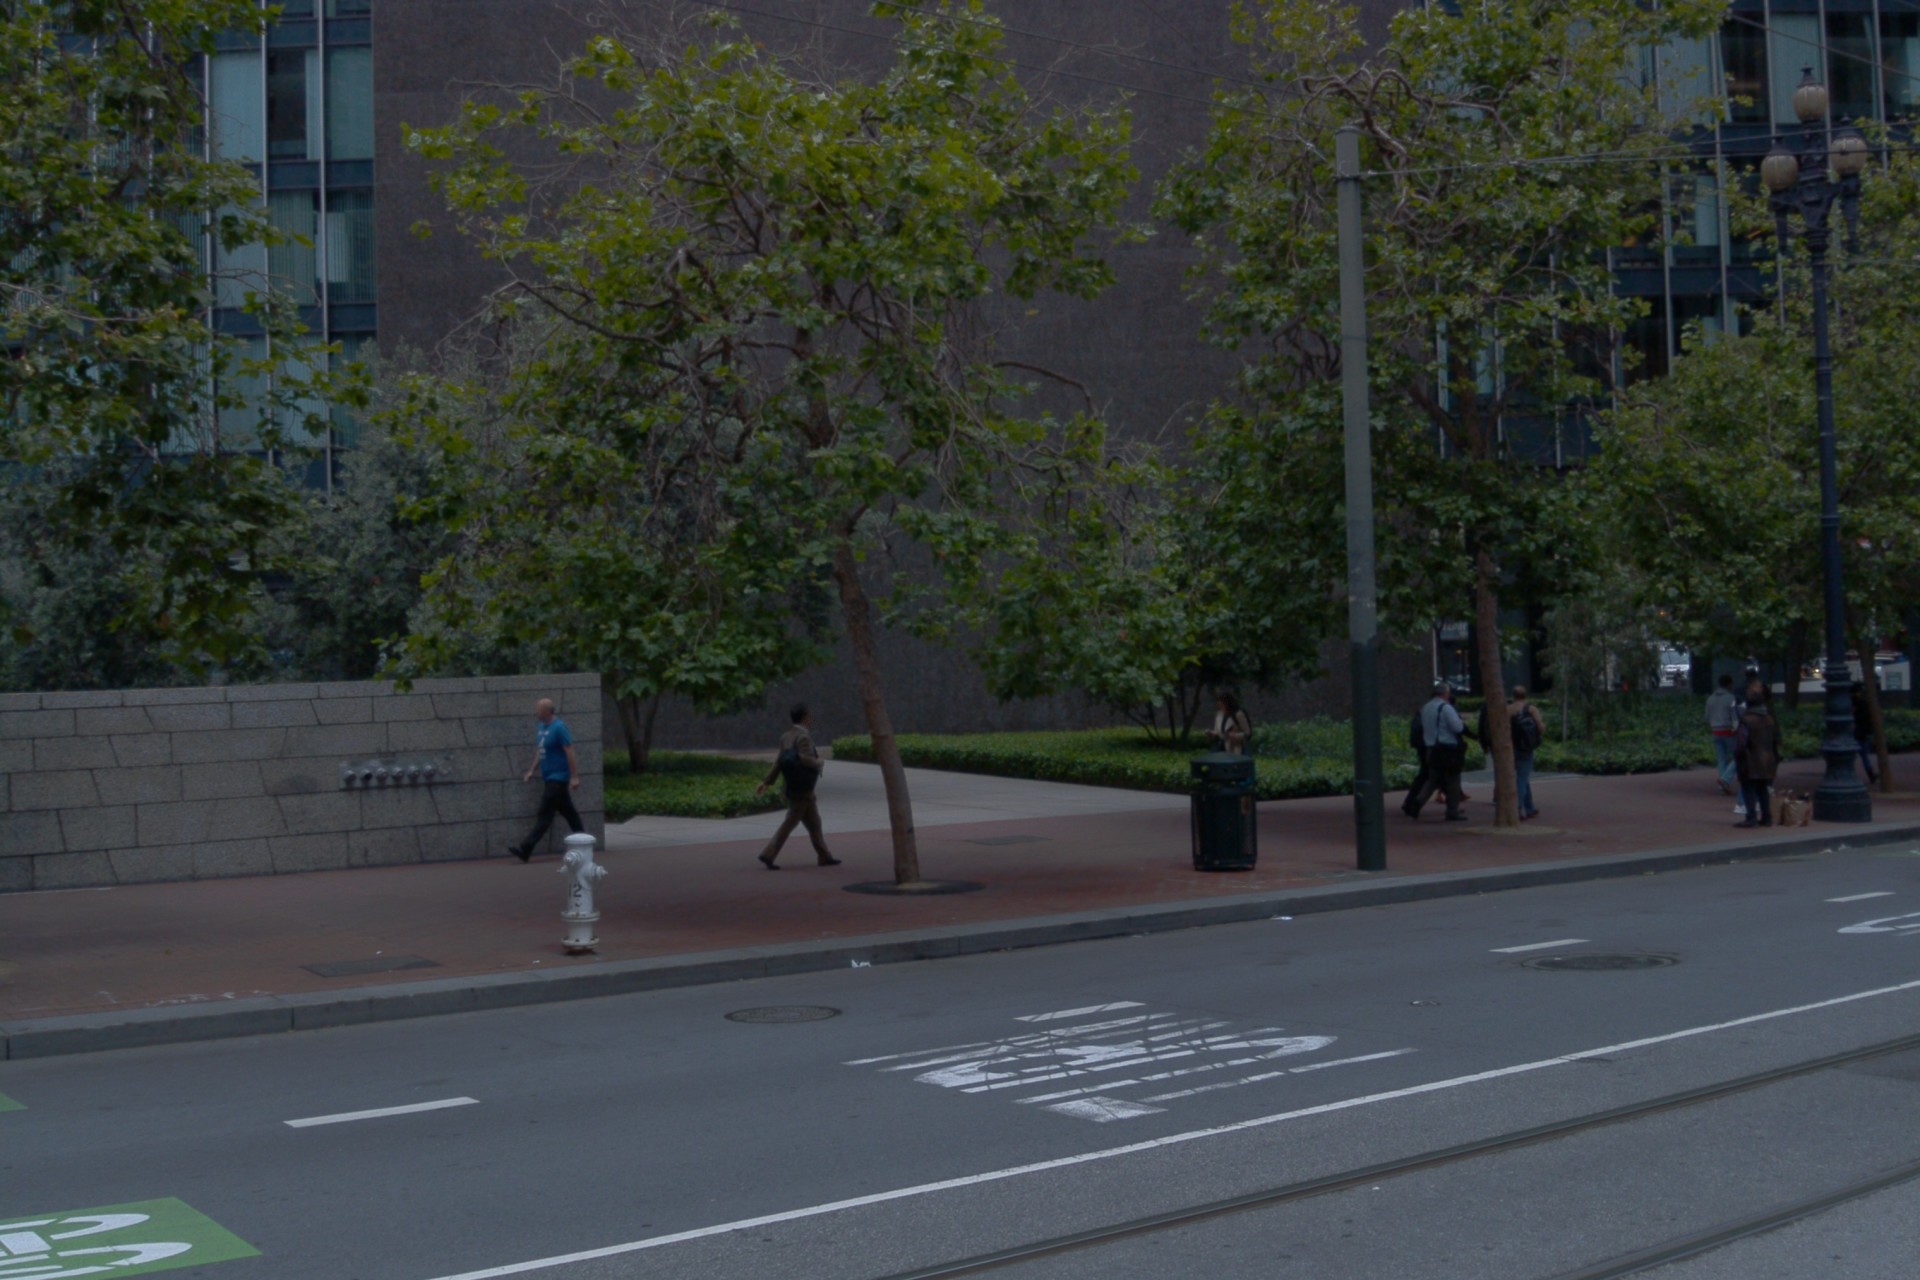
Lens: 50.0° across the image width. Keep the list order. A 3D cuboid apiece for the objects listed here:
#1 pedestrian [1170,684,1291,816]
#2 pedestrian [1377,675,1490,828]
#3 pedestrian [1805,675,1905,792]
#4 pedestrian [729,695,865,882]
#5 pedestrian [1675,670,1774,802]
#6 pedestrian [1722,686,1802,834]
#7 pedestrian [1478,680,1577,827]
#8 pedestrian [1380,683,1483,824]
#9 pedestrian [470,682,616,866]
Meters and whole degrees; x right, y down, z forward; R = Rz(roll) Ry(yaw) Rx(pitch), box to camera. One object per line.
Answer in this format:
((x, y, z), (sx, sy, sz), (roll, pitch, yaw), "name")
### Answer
((3.666, 1.468, 27.914), (1.151, 1.700, 1.139), (-1, 1, -39), "pedestrian")
((6.129, 1.420, 26.641), (1.018, 1.900, 0.989), (0, 1, -32), "pedestrian")
((14.143, 1.458, 32.508), (1.062, 1.770, 1.050), (-1, 1, -36), "pedestrian")
((-1.743, 1.556, 21.984), (1.103, 1.880, 1.024), (0, 1, -32), "pedestrian")
((11.405, 1.409, 30.685), (1.189, 1.880, 0.885), (-1, 1, -39), "pedestrian")
((9.960, 1.474, 25.544), (0.795, 1.760, 0.638), (-1, 1, -42), "pedestrian")
((7.387, 1.458, 26.771), (1.081, 1.830, 0.731), (-1, 1, -37), "pedestrian")
((6.274, 1.491, 27.386), (1.017, 1.800, 0.880), (0, 1, -33), "pedestrian")
((-4.570, 1.436, 22.554), (1.267, 1.900, 0.943), (-1, 1, -38), "pedestrian")
